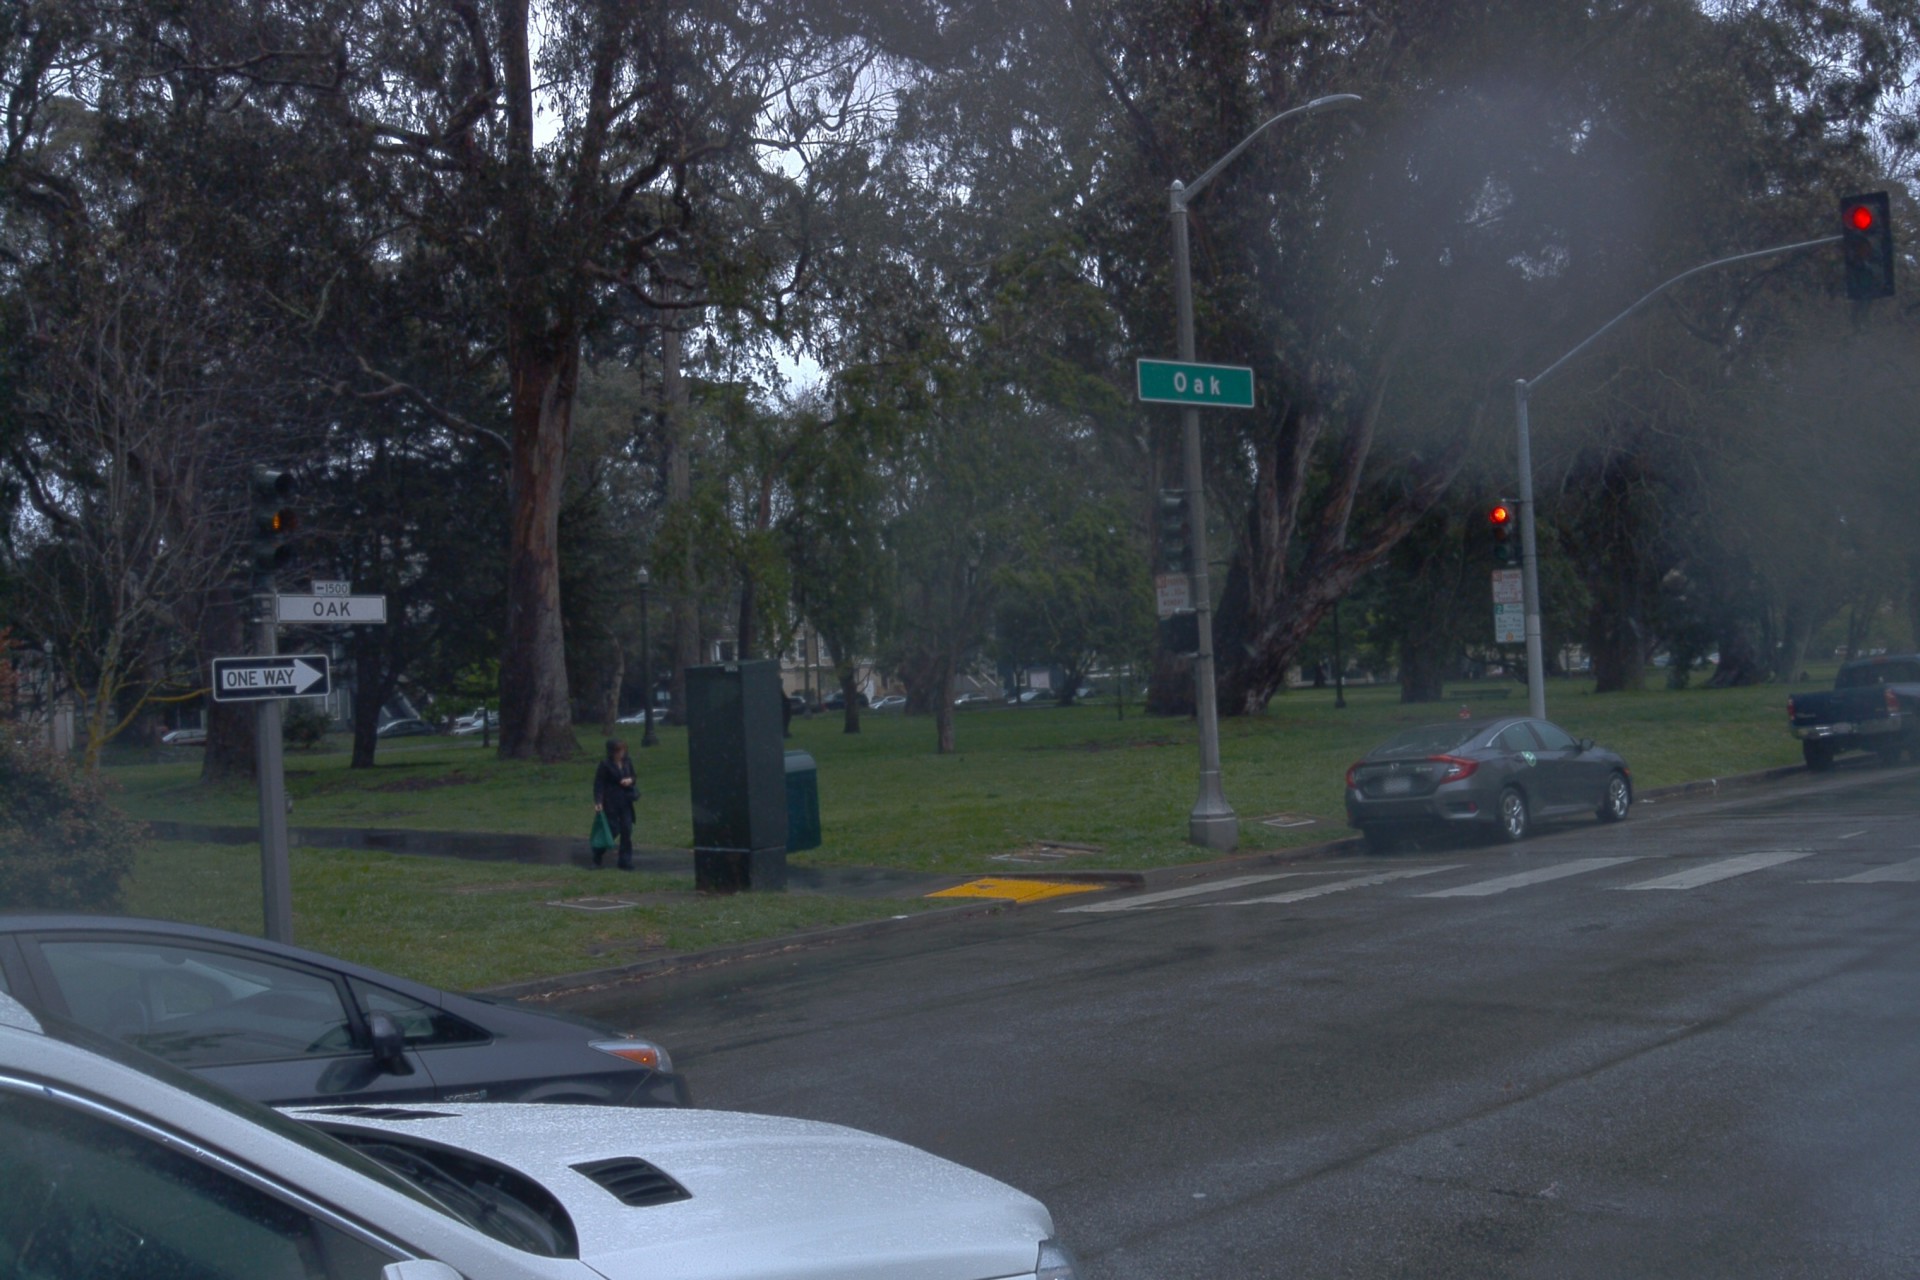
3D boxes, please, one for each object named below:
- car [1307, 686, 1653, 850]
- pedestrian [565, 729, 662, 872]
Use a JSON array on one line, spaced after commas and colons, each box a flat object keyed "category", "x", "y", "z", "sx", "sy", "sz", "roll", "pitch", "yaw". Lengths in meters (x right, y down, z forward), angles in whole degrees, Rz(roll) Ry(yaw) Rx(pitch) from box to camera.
[{"category": "car", "x": 6.195, "y": 1.417, "z": 24.127, "sx": 2.031, "sy": 1.540, "sz": 4.554, "roll": 1, "pitch": 2, "yaw": 42}, {"category": "pedestrian", "x": -4.019, "y": 1.846, "z": 23.835, "sx": 0.722, "sy": 1.560, "sz": 0.835, "roll": 1, "pitch": 2, "yaw": 40}]
